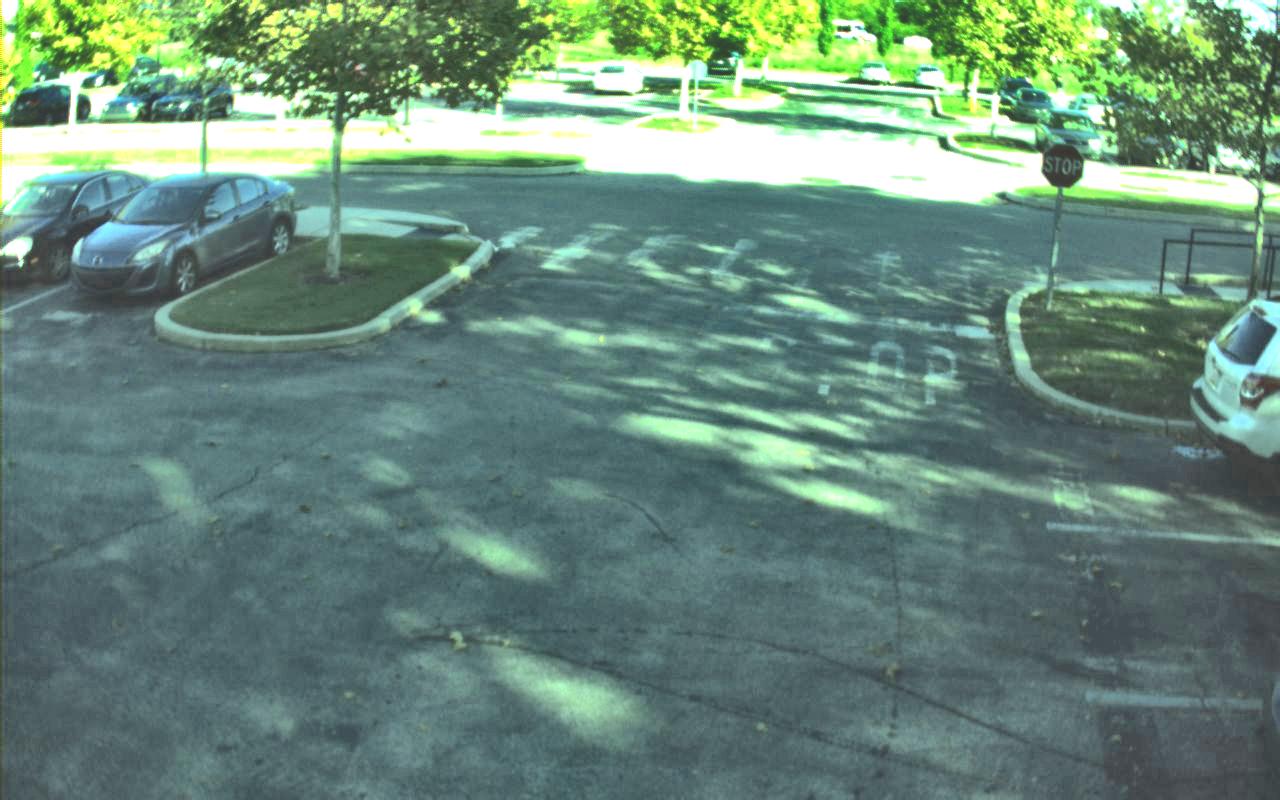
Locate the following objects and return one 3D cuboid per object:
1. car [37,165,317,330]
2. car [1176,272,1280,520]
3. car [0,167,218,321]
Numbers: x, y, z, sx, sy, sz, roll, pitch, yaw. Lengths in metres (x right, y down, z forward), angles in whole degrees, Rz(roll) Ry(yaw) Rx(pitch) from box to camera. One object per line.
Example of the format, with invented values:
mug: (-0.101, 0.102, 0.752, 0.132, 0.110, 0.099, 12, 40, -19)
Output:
car: (-6.556, -2.283, 17.027, 1.910, 1.516, 4.478, 3, 17, 15)
car: (7.333, -0.015, 10.097, 4.425, 1.741, 1.981, 2, 16, 9)
car: (-8.804, -2.536, 18.108, 1.944, 1.566, 4.486, 5, 18, 21)
